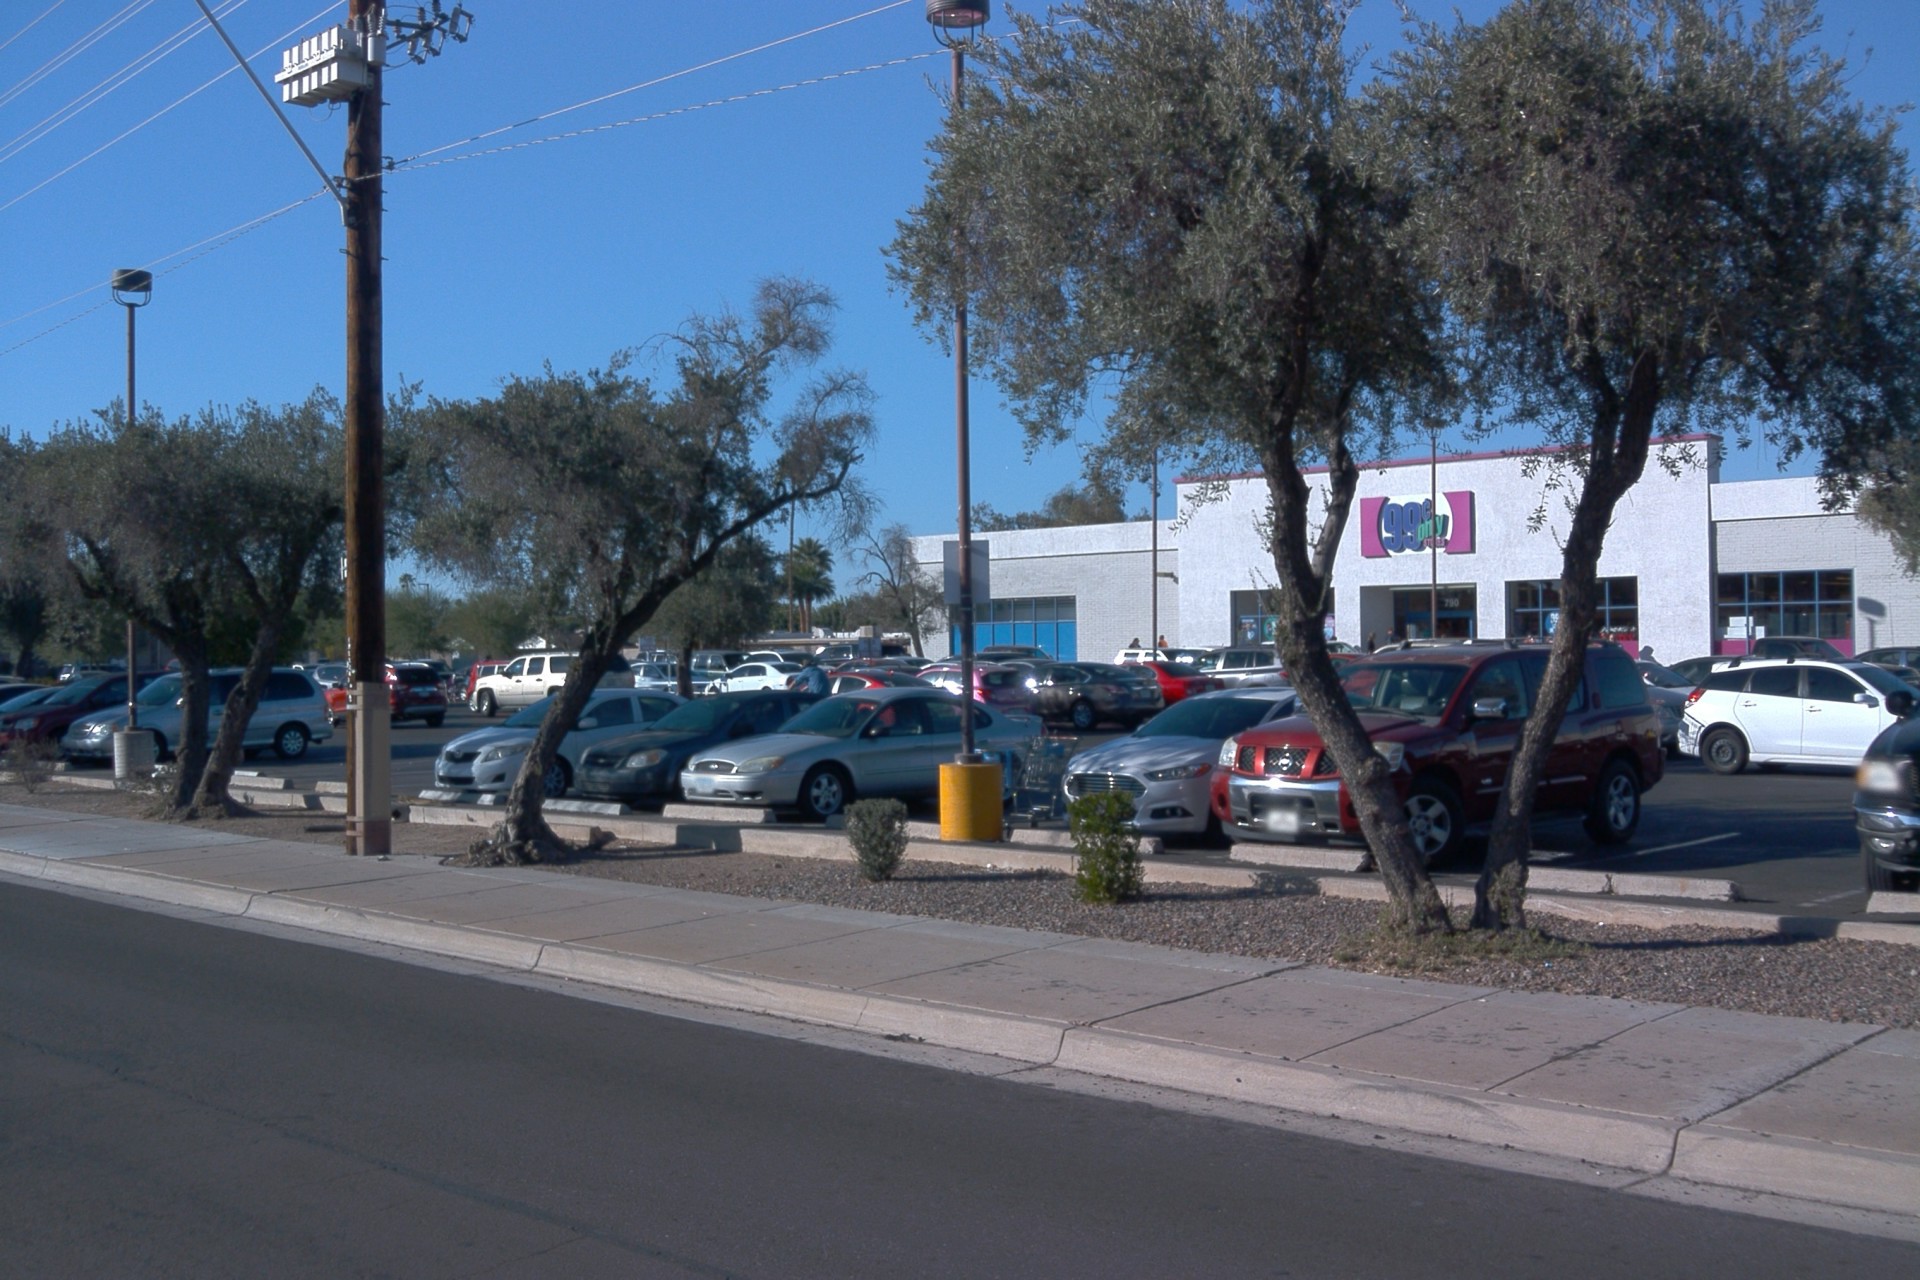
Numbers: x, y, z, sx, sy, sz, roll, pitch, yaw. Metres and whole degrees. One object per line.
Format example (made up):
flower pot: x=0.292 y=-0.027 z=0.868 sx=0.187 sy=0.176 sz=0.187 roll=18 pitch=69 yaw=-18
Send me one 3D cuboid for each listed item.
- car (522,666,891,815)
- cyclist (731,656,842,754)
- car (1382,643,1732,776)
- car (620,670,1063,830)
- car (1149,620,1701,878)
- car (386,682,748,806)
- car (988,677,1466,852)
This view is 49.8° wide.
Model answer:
car: x=-3.190 y=1.213 z=26.643 sx=2.072 sy=1.730 sz=4.374 roll=-1 pitch=-1 yaw=44
cyclist: x=-3.239 y=1.195 z=38.453 sx=0.986 sy=1.760 sz=2.036 roll=0 pitch=-1 yaw=-43
car: x=9.597 y=1.076 z=33.603 sx=2.169 sy=1.990 sz=5.065 roll=0 pitch=-1 yaw=-41
car: x=-1.305 y=1.215 z=24.578 sx=5.055 sy=1.680 sz=2.102 roll=0 pitch=-1 yaw=-43
car: x=4.393 y=0.885 z=18.984 sx=5.263 sy=2.030 sz=2.389 roll=0 pitch=-1 yaw=-43
car: x=-5.323 y=1.358 z=28.441 sx=2.065 sy=1.510 sz=4.511 roll=-1 pitch=-1 yaw=44
car: x=2.820 y=1.166 z=21.058 sx=4.891 sy=1.530 sz=2.213 roll=0 pitch=-1 yaw=-43
